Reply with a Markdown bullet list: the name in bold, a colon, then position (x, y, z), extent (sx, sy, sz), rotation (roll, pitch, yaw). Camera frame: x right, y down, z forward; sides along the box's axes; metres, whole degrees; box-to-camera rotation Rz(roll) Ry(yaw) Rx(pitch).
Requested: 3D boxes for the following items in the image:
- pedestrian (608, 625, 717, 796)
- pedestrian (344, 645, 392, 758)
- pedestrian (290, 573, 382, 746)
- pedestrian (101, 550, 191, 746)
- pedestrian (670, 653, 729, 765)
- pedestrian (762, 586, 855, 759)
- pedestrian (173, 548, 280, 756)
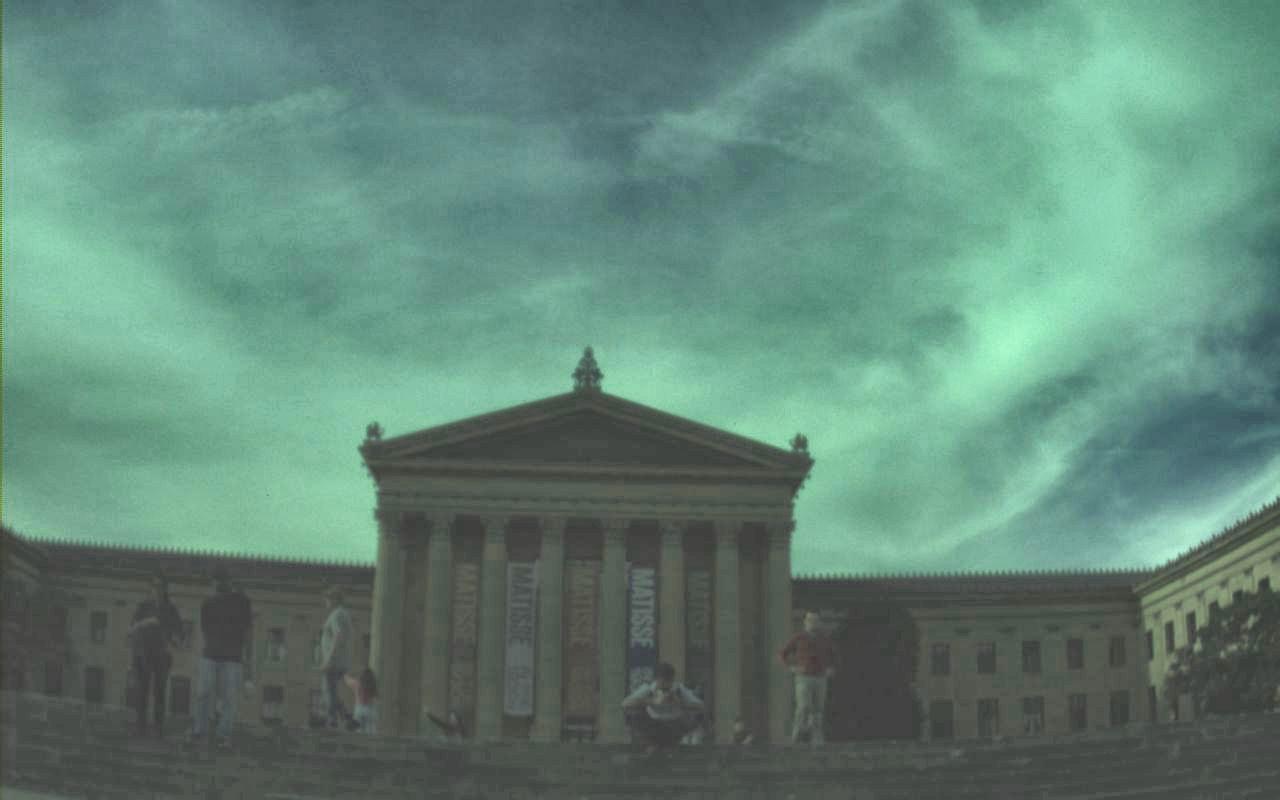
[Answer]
- **pedestrian**: position (0.207, 2.920, 11.566), extent (0.704, 1.429, 0.801), rotation (1, 0, 31)
- **pedestrian**: position (-4.485, 4.989, 19.765), extent (0.660, 1.792, 0.654), rotation (0, 0, -6)
- **pedestrian**: position (-3.545, 3.031, 14.021), extent (0.786, 1.872, 0.784), rotation (0, 0, 9)
- **pedestrian**: position (-4.745, 2.400, 11.011), extent (0.736, 1.788, 0.721), rotation (0, 0, -18)
- **pedestrian**: position (1.028, 5.339, 21.145), extent (0.758, 1.779, 0.785), rotation (1, 0, 24)
- **pedestrian**: position (1.939, 3.161, 14.221), extent (0.858, 1.864, 0.838), rotation (0, 0, -6)
- **pedestrian**: position (-3.901, 2.383, 11.061), extent (0.750, 1.835, 0.741), rotation (0, 0, 0)
